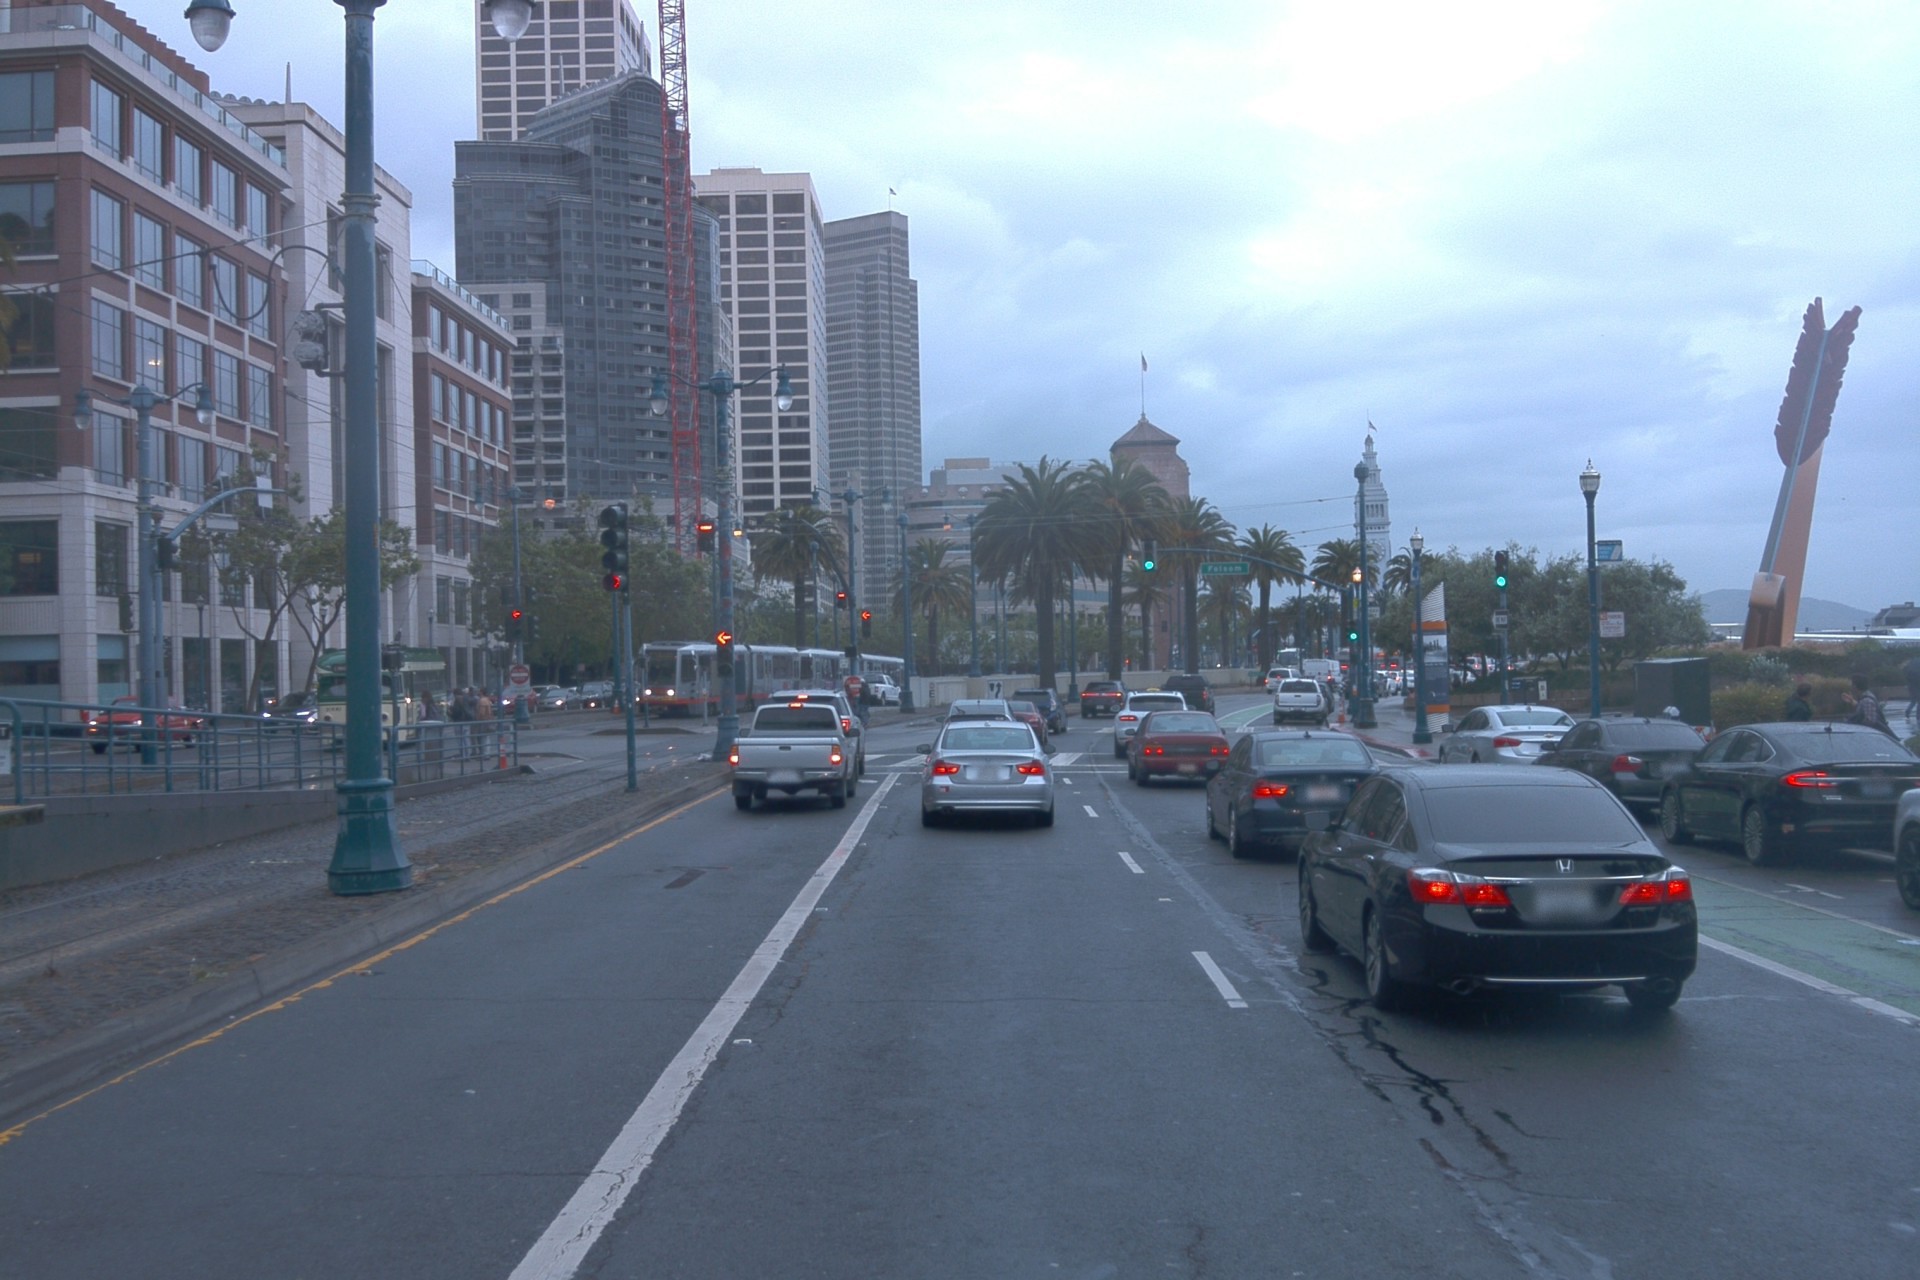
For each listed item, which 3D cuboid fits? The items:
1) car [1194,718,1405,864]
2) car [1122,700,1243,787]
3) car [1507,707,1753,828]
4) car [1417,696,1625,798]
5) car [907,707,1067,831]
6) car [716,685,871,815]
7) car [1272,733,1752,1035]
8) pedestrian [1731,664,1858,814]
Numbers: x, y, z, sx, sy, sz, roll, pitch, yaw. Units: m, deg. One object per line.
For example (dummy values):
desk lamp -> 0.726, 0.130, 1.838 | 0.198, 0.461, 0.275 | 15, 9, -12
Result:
car -> 3.853, 1.684, 24.230 | 1.869, 1.450, 4.344 | 0, -1, 2
car -> 4.027, 1.861, 38.076 | 1.924, 1.450, 3.944 | 0, -1, 2
car -> 9.362, 1.740, 29.376 | 2.078, 1.500, 4.502 | 0, -1, 1
car -> 9.551, 1.784, 35.776 | 2.246, 1.550, 5.105 | 0, -1, 1
car -> 0.368, 1.743, 29.175 | 2.067, 1.510, 4.625 | 0, -1, 0
car -> -2.532, 1.659, 32.666 | 2.053, 1.860, 4.771 | 0, -1, 0
car -> 3.421, 1.464, 13.869 | 2.069, 1.540, 4.627 | 0, -1, 1
pedestrian -> 11.091, 1.297, 27.613 | 1.054, 1.938, 1.263 | 0, -1, -9
